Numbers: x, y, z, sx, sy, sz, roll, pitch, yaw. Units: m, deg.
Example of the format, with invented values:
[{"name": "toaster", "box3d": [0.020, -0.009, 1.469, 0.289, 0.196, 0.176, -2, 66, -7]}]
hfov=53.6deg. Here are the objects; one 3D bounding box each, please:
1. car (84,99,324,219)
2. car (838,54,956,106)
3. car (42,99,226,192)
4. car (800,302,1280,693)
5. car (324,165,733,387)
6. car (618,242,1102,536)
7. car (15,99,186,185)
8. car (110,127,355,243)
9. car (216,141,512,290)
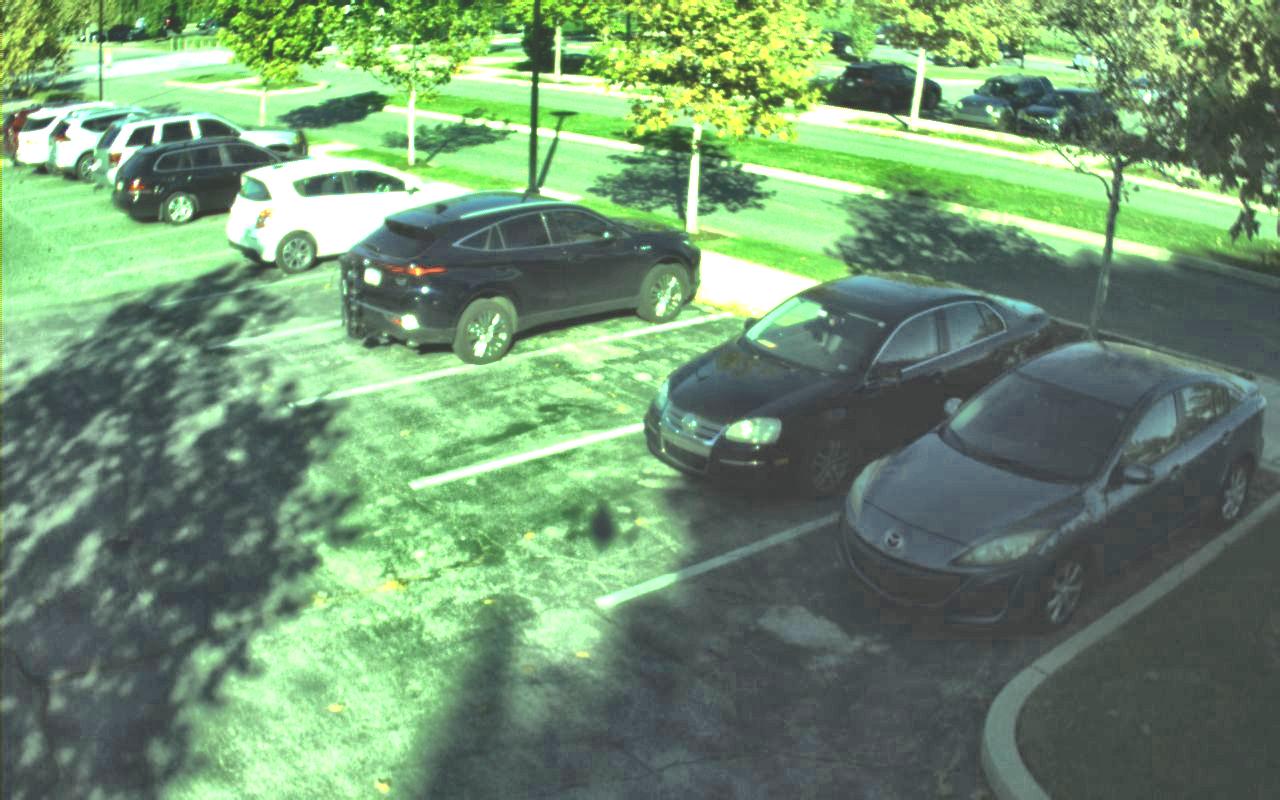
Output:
[{"name": "car", "box3d": [-9.274, -5.139, 24.896, 4.899, 1.871, 2.072, -13, 20, -35]}, {"name": "car", "box3d": [8.981, -11.118, 42.208, 1.997, 1.680, 4.639, 14, 22, 42]}, {"name": "car", "box3d": [-12.611, -6.295, 28.539, 4.482, 1.676, 1.957, -13, 20, -36]}, {"name": "car", "box3d": [3.488, 0.473, 9.122, 4.466, 1.517, 1.922, -13, 20, -34]}, {"name": "car", "box3d": [-1.217, -1.646, 14.903, 4.620, 1.735, 1.982, -15, 21, -40]}, {"name": "car", "box3d": [2.187, -0.320, 11.397, 4.445, 1.539, 1.930, -13, 20, -34]}, {"name": "car", "box3d": [-14.413, -6.823, 30.240, 4.543, 1.677, 1.975, -13, 20, -35]}, {"name": "car", "box3d": [-7.863, -4.170, 22.835, 4.472, 1.557, 1.936, -13, 20, -34]}, {"name": "car", "box3d": [-4.309, -2.969, 19.169, 4.282, 1.638, 1.907, -13, 20, -36]}]
